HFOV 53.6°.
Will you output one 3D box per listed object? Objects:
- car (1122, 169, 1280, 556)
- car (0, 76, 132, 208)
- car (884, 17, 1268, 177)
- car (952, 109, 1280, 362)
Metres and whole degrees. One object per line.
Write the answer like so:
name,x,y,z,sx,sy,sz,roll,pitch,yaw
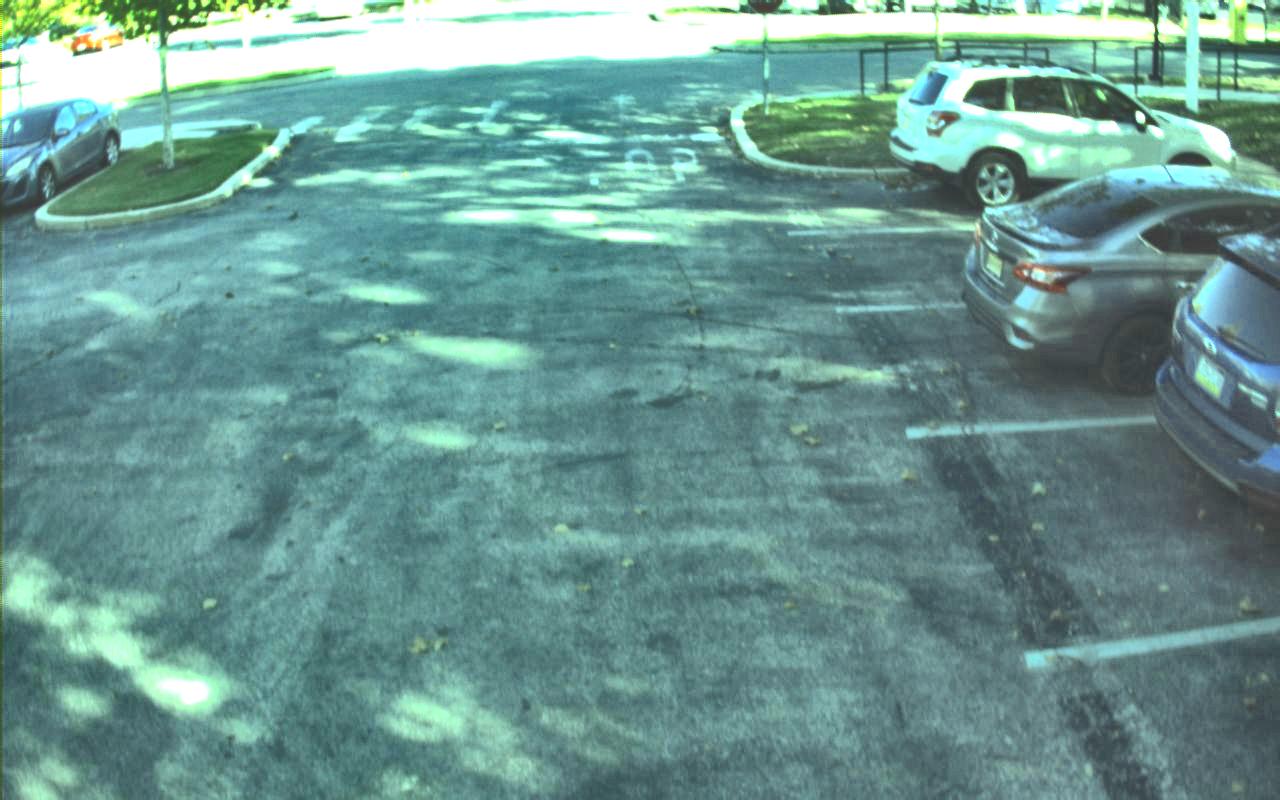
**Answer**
car,5.264,-0.335,6.440,4.394,1.706,1.962,-1,16,0
car,-10.124,-4.295,18.324,1.932,1.563,4.505,-1,17,1
car,5.432,-3.770,14.557,4.604,1.708,1.991,-2,16,-3
car,4.823,-1.360,9.092,4.470,1.562,1.944,-2,16,-3
